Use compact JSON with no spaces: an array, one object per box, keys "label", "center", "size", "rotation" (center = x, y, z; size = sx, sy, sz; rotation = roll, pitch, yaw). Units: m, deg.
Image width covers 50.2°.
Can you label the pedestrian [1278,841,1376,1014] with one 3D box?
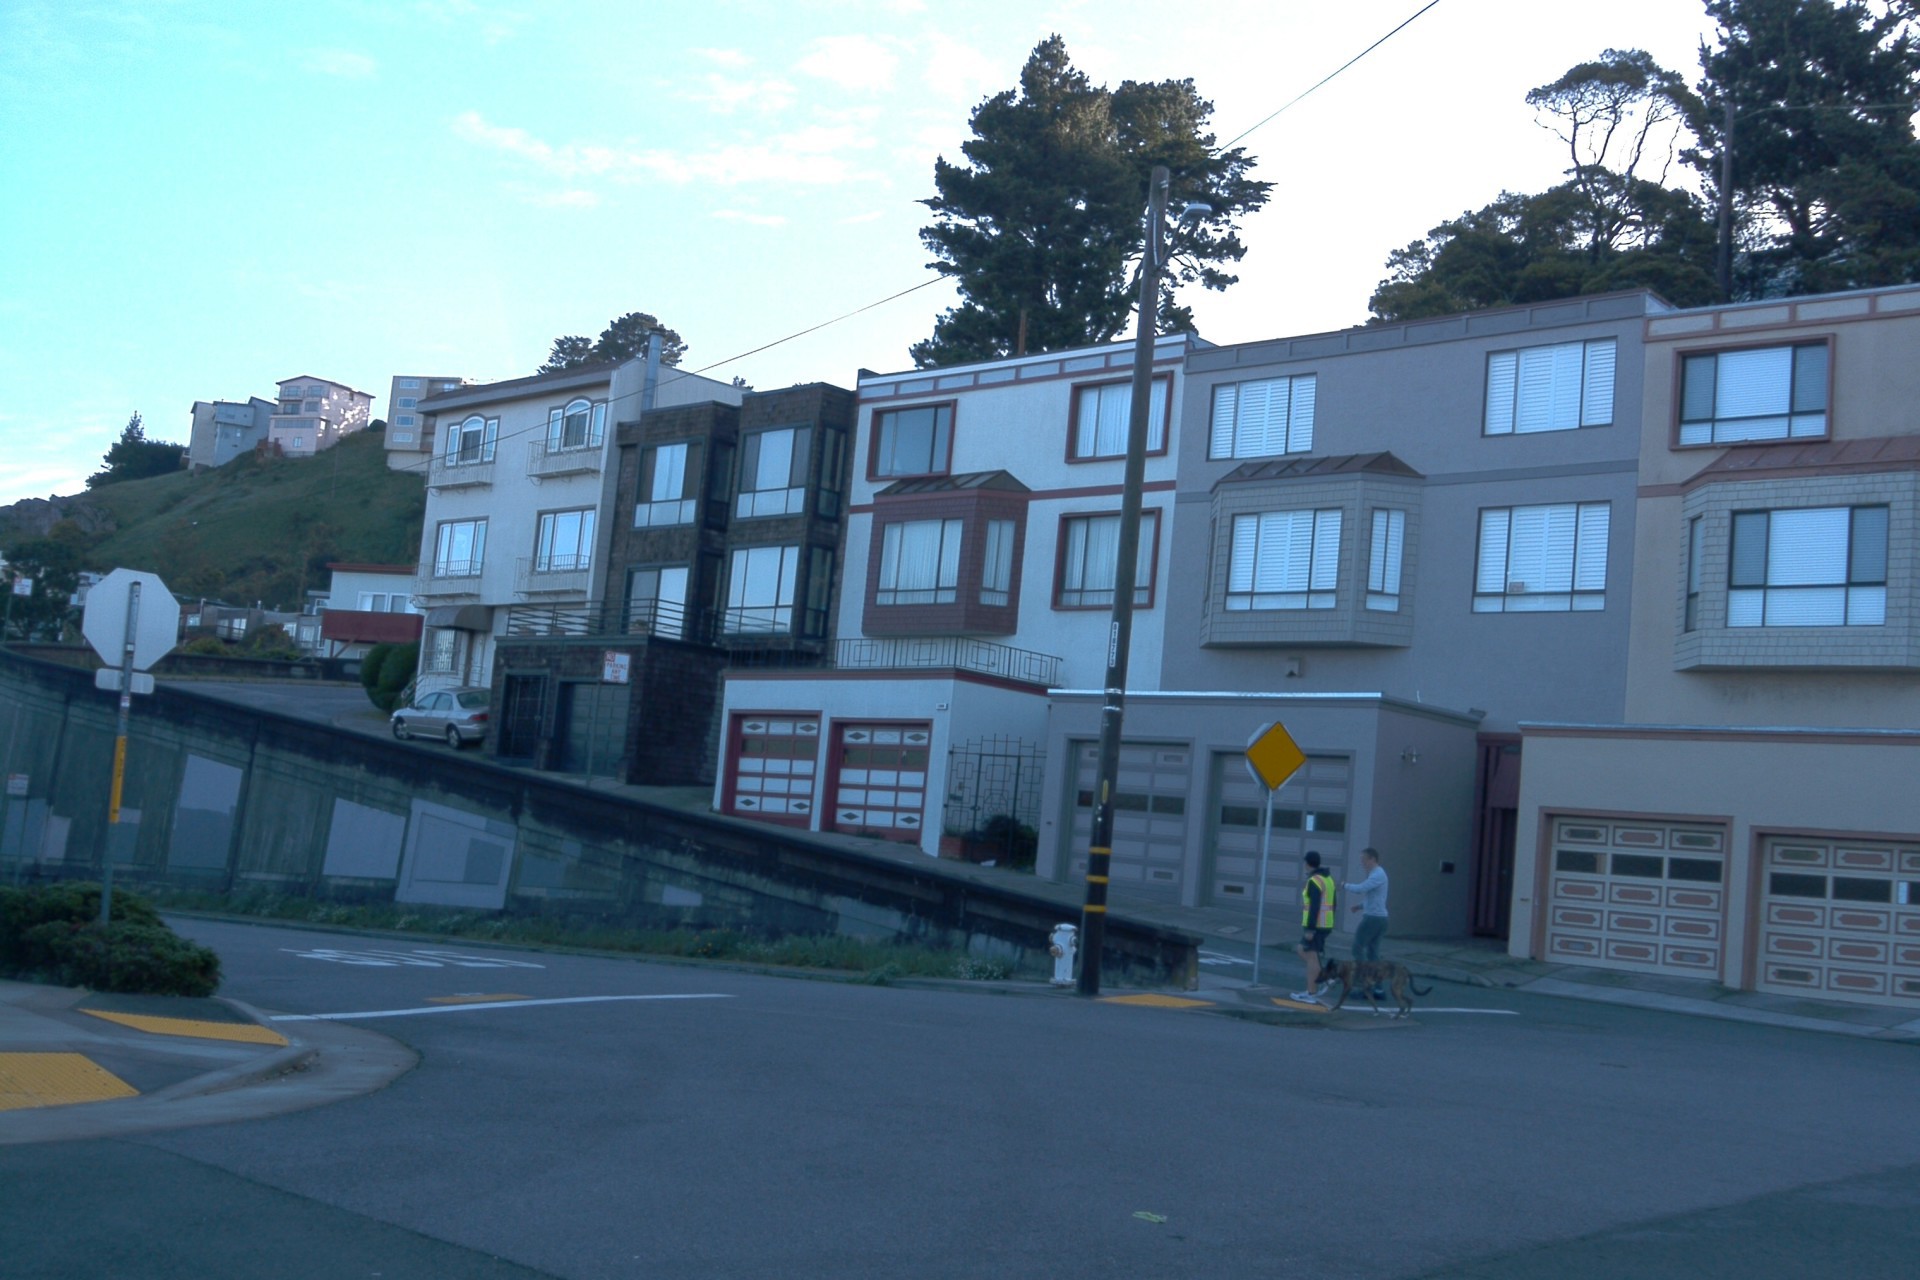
[{"label":"pedestrian","center":[4.159,3.232,23.222],"size":[0.810,1.770,0.967],"rotation":[1,1,29]}]

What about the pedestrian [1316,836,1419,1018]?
[{"label":"pedestrian","center":[4.821,3.365,24.250],"size":[1.039,1.980,0.841],"rotation":[1,1,22]}]
